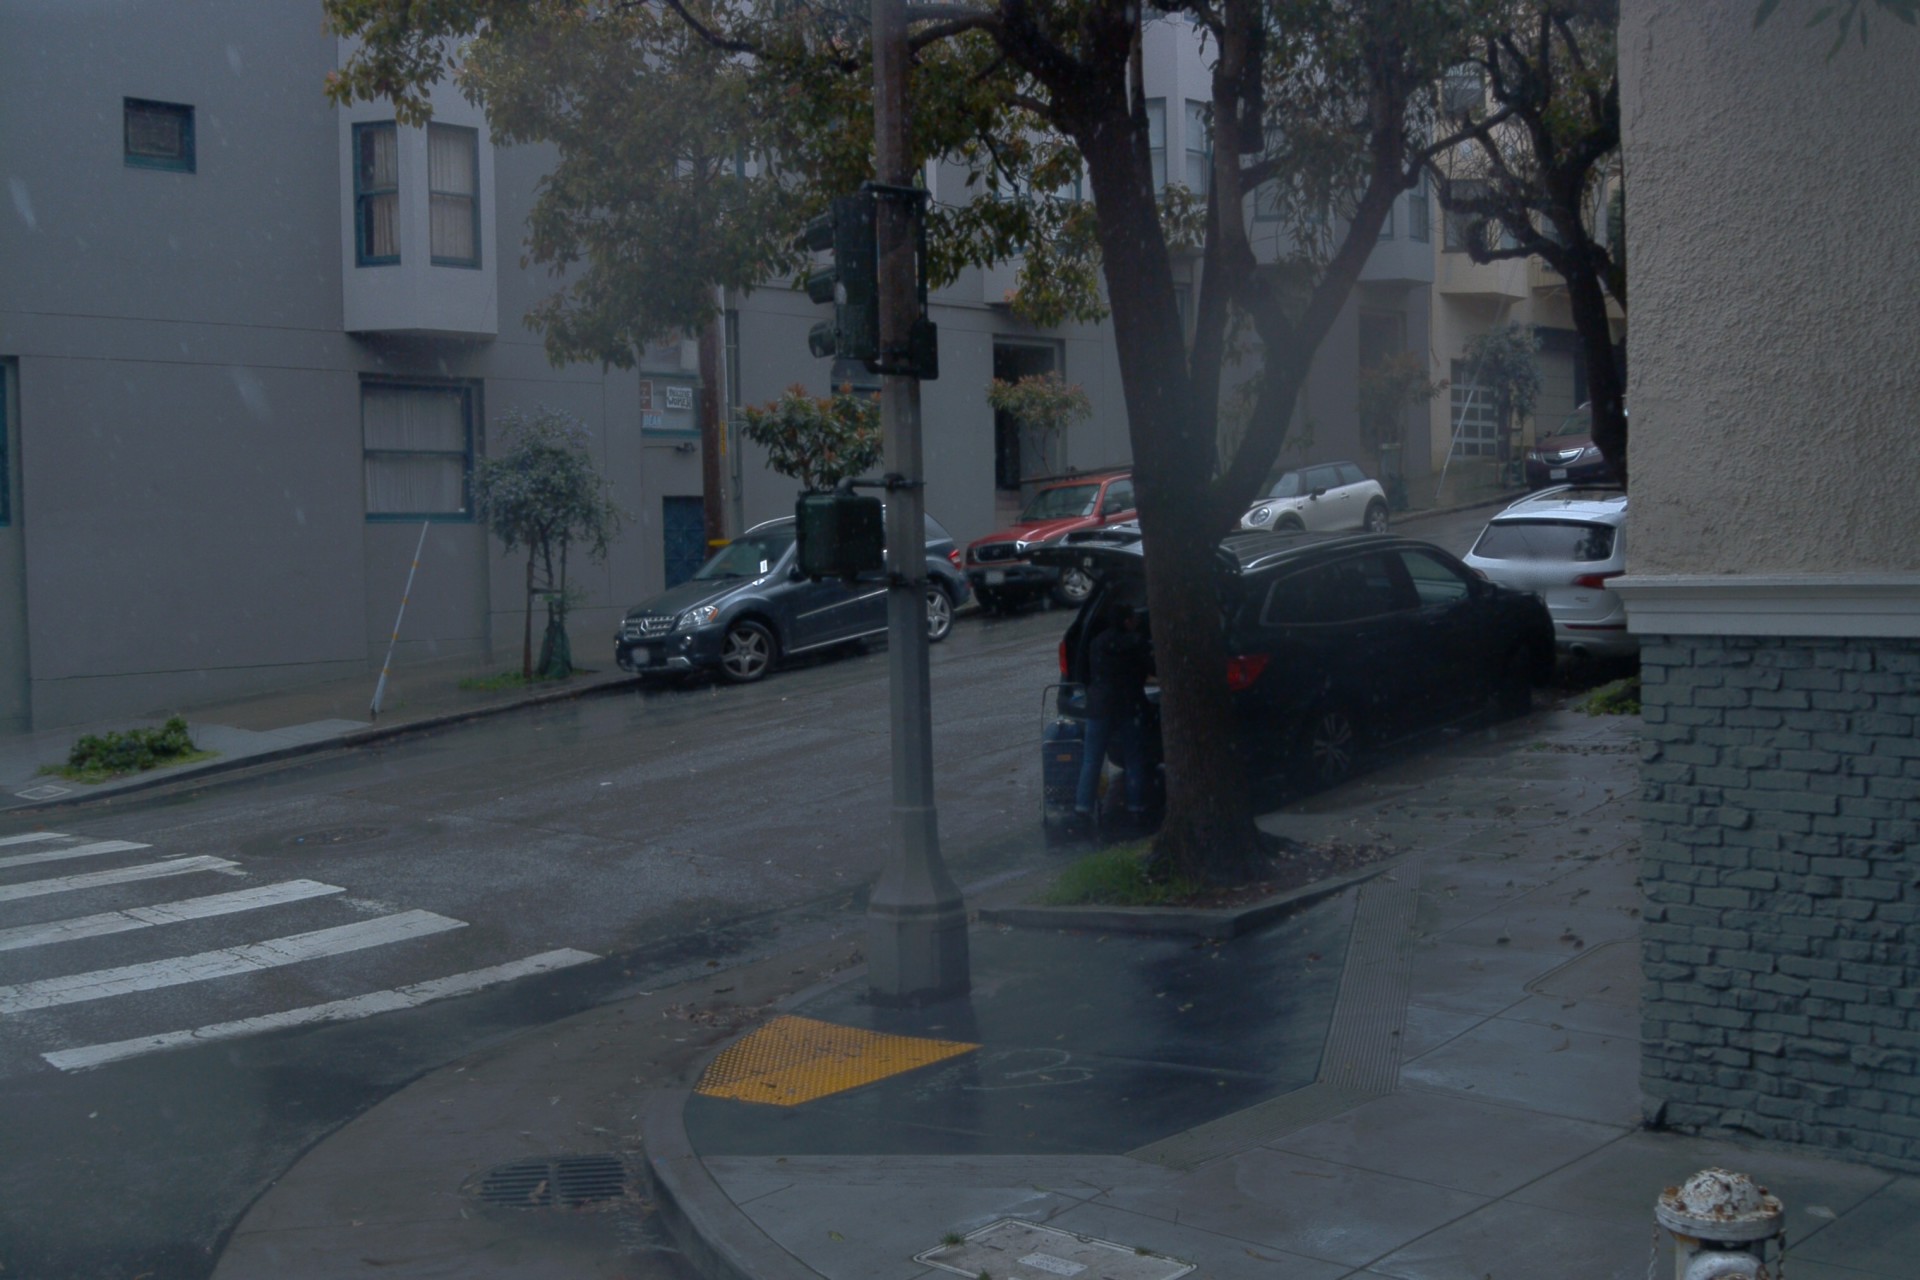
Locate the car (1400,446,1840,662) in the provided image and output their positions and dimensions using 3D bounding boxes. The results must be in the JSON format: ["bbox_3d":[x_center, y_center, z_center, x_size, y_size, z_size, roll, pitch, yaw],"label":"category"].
[{"bbox_3d":[6.524,-0.724,19.878,2.355,1.840,4.675,0,0,42],"label":"car"}]

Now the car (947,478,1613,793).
[{"bbox_3d":[2.723,-0.023,16.096,2.384,2.040,5.680,0,0,43],"label":"car"}]

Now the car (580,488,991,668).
[{"bbox_3d":[-2.050,-0.679,24.964,2.225,1.980,4.671,0,0,45],"label":"car"}]

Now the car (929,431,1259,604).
[{"bbox_3d":[1.985,-1.646,29.237,4.537,2.180,2.259,0,0,-45],"label":"car"}]

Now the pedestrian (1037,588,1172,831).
[{"bbox_3d":[1.016,0.468,14.254,0.793,1.634,0.885,0,0,14],"label":"pedestrian"}]
